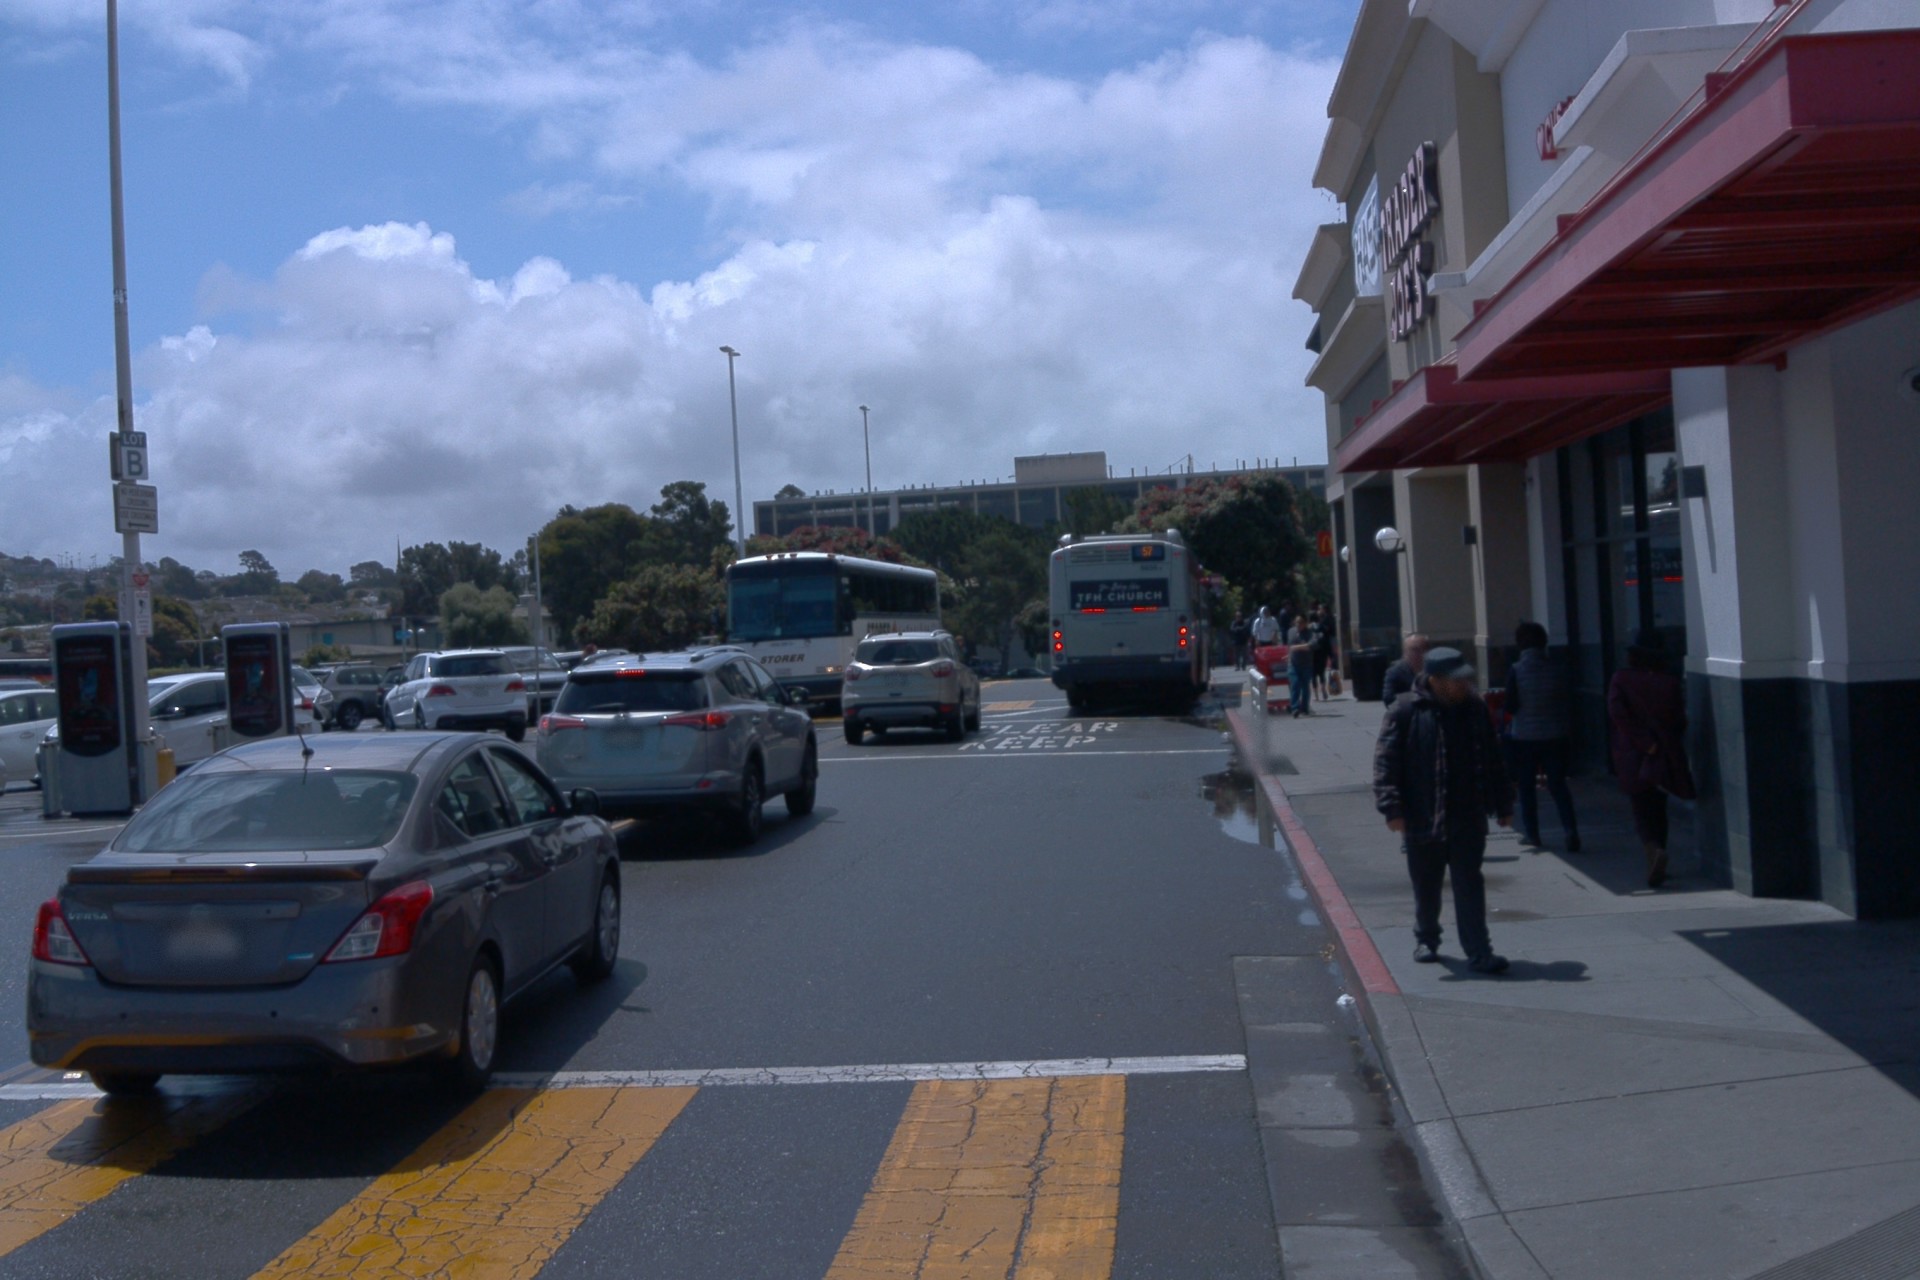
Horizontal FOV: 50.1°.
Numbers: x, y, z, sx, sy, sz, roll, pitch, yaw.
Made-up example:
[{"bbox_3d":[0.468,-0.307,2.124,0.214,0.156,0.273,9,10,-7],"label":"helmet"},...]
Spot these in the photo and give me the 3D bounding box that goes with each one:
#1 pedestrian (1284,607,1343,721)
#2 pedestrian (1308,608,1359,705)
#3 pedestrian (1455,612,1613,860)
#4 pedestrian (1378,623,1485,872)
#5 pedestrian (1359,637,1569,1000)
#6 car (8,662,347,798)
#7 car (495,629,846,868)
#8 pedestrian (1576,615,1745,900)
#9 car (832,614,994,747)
[{"bbox_3d":[5.472,0.364,31.856,0.838,1.730,0.982,0,0,7],"label":"pedestrian"},{"bbox_3d":[6.497,0.278,35.803,0.841,1.660,0.883,0,0,10],"label":"pedestrian"},{"bbox_3d":[4.033,0.654,14.505,0.886,1.700,0.832,0,0,2],"label":"pedestrian"},{"bbox_3d":[3.345,0.738,14.638,0.653,1.720,0.808,0,0,6],"label":"pedestrian"},{"bbox_3d":[2.489,0.849,10.252,0.889,1.720,0.871,0,0,5],"label":"pedestrian"},{"bbox_3d":[-11.104,1.216,29.425,1.898,1.700,4.188,0,1,35],"label":"car"},{"bbox_3d":[-2.476,0.859,18.870,2.132,1.900,4.506,0,1,7],"label":"car"},{"bbox_3d":[4.259,0.690,12.560,0.814,1.680,0.819,0,0,7],"label":"pedestrian"},{"bbox_3d":[-0.667,0.582,32.579,2.014,1.960,4.317,0,0,6],"label":"car"}]
